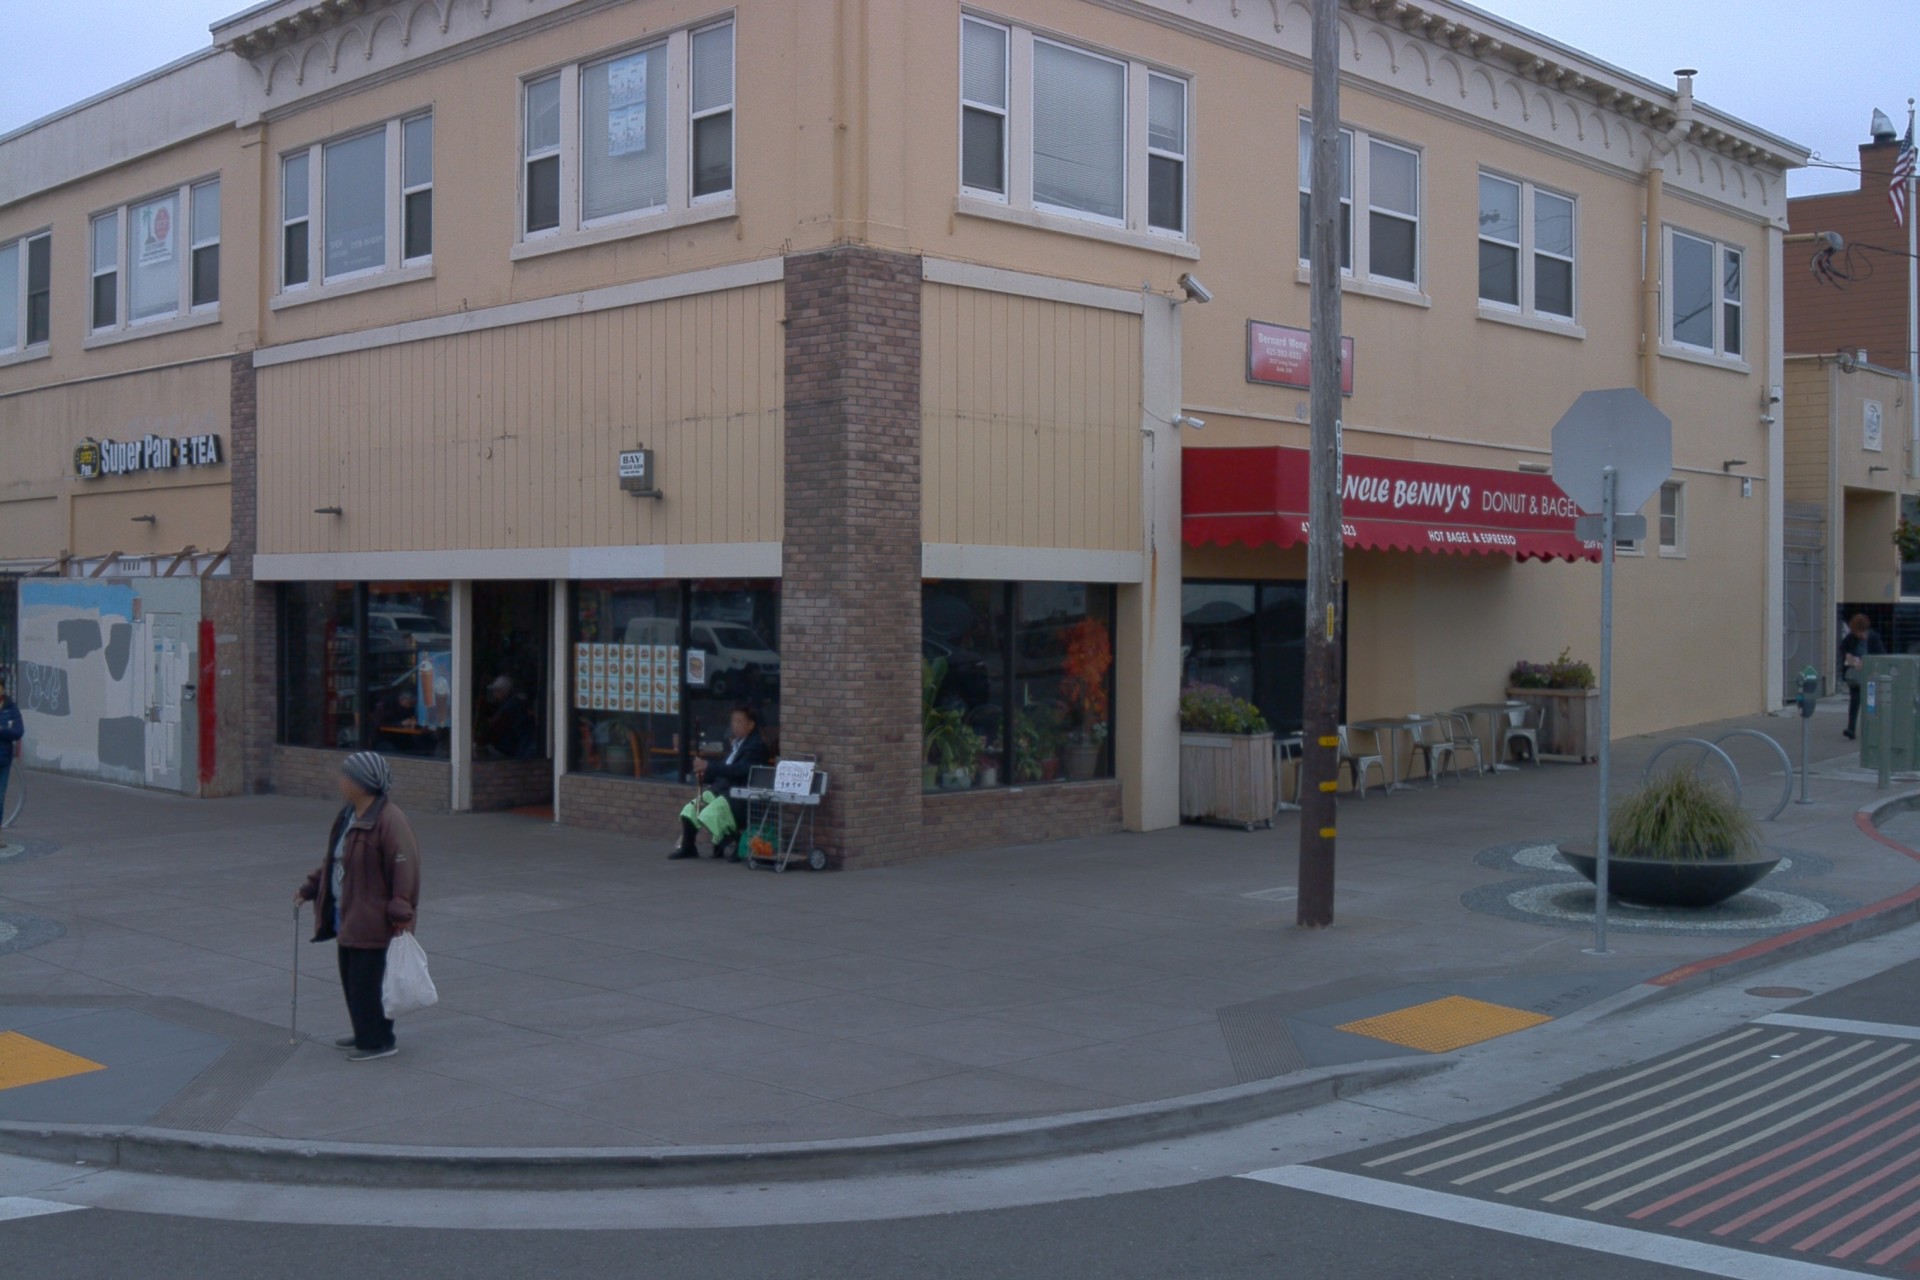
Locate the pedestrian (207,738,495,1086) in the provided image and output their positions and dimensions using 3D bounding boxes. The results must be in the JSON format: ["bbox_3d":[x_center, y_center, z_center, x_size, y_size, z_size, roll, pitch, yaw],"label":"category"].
[{"bbox_3d":[-2.899,1.240,9.840,1.076,1.477,0.824,0,1,36],"label":"pedestrian"}]

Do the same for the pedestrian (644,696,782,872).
[{"bbox_3d":[-2.046,1.167,17.097,0.878,1.374,0.735,1,1,44],"label":"pedestrian"}]

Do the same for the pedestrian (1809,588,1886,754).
[{"bbox_3d":[10.988,0.370,25.572,0.739,2.018,0.670,0,1,36],"label":"pedestrian"}]
